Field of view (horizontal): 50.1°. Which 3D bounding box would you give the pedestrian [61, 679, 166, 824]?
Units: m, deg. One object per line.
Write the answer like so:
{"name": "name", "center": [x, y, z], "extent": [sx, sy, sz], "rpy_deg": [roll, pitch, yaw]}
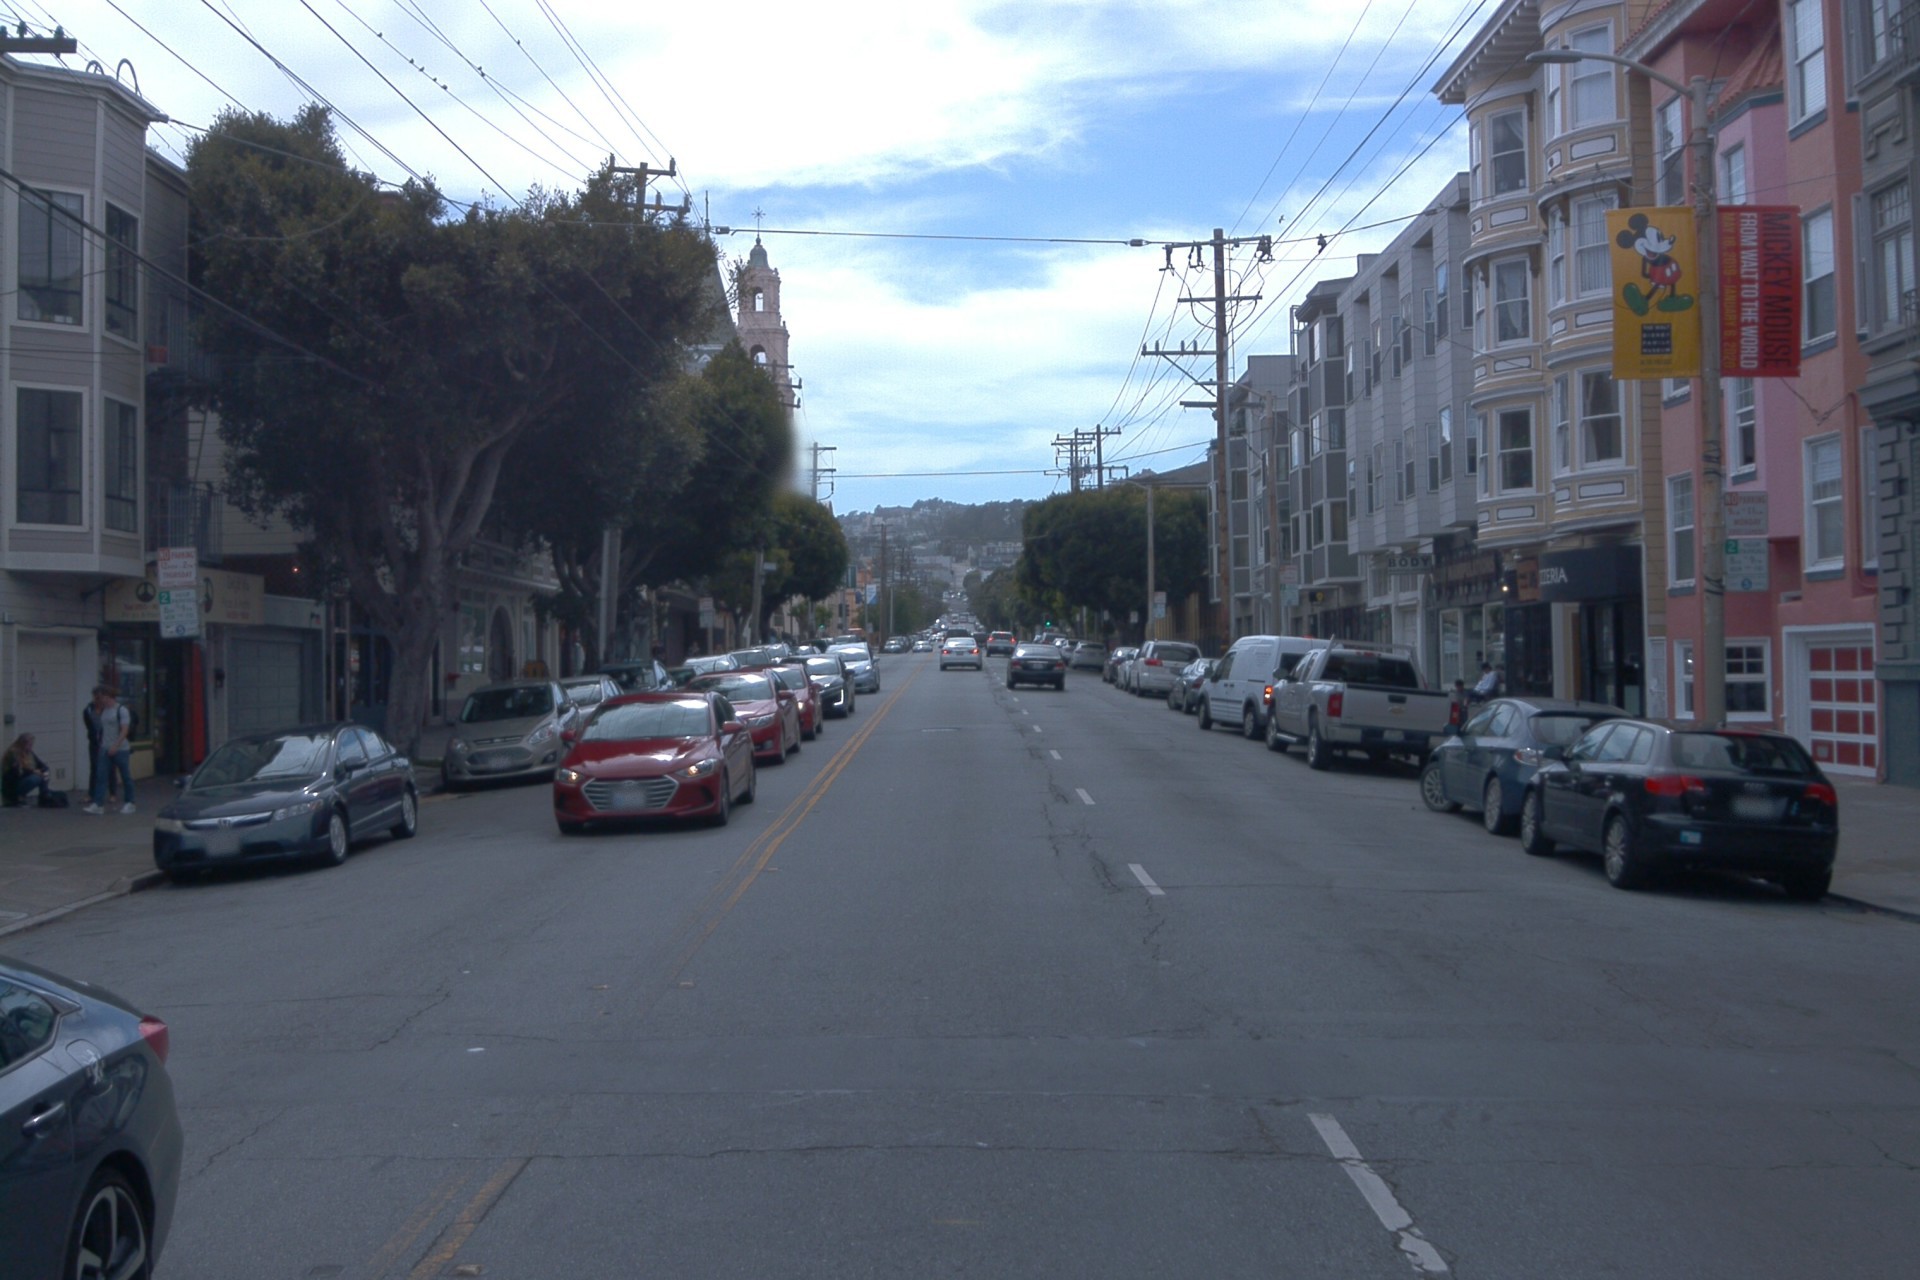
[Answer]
{"name": "pedestrian", "center": [-10.633, 1.379, 25.841], "extent": [0.800, 1.750, 0.934], "rpy_deg": [0, 1, 16]}

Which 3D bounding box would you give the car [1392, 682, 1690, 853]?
{"name": "car", "center": [6.377, 1.341, 23.143], "extent": [2.028, 1.570, 4.453], "rpy_deg": [0, 1, -1]}

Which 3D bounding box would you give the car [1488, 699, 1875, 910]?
{"name": "car", "center": [6.260, 1.366, 18.432], "extent": [1.948, 1.470, 4.353], "rpy_deg": [0, 1, 0]}

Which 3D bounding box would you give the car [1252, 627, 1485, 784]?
{"name": "car", "center": [6.394, 0.938, 33.013], "extent": [2.464, 2.210, 5.949], "rpy_deg": [0, 1, -1]}

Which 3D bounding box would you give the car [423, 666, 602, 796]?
{"name": "car", "center": [-7.012, 1.377, 32.708], "extent": [2.124, 1.800, 4.406], "rpy_deg": [0, 1, -3]}

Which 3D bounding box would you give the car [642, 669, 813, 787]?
{"name": "car", "center": [-3.616, 1.342, 32.883], "extent": [2.125, 1.610, 4.697], "rpy_deg": [0, 1, 1]}

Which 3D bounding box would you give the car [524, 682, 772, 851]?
{"name": "car", "center": [-3.358, 1.326, 23.003], "extent": [2.039, 1.540, 4.428], "rpy_deg": [0, 1, 1]}

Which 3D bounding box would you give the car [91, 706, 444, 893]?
{"name": "car", "center": [-7.042, 1.565, 21.475], "extent": [2.116, 1.530, 4.511], "rpy_deg": [0, 1, 1]}
